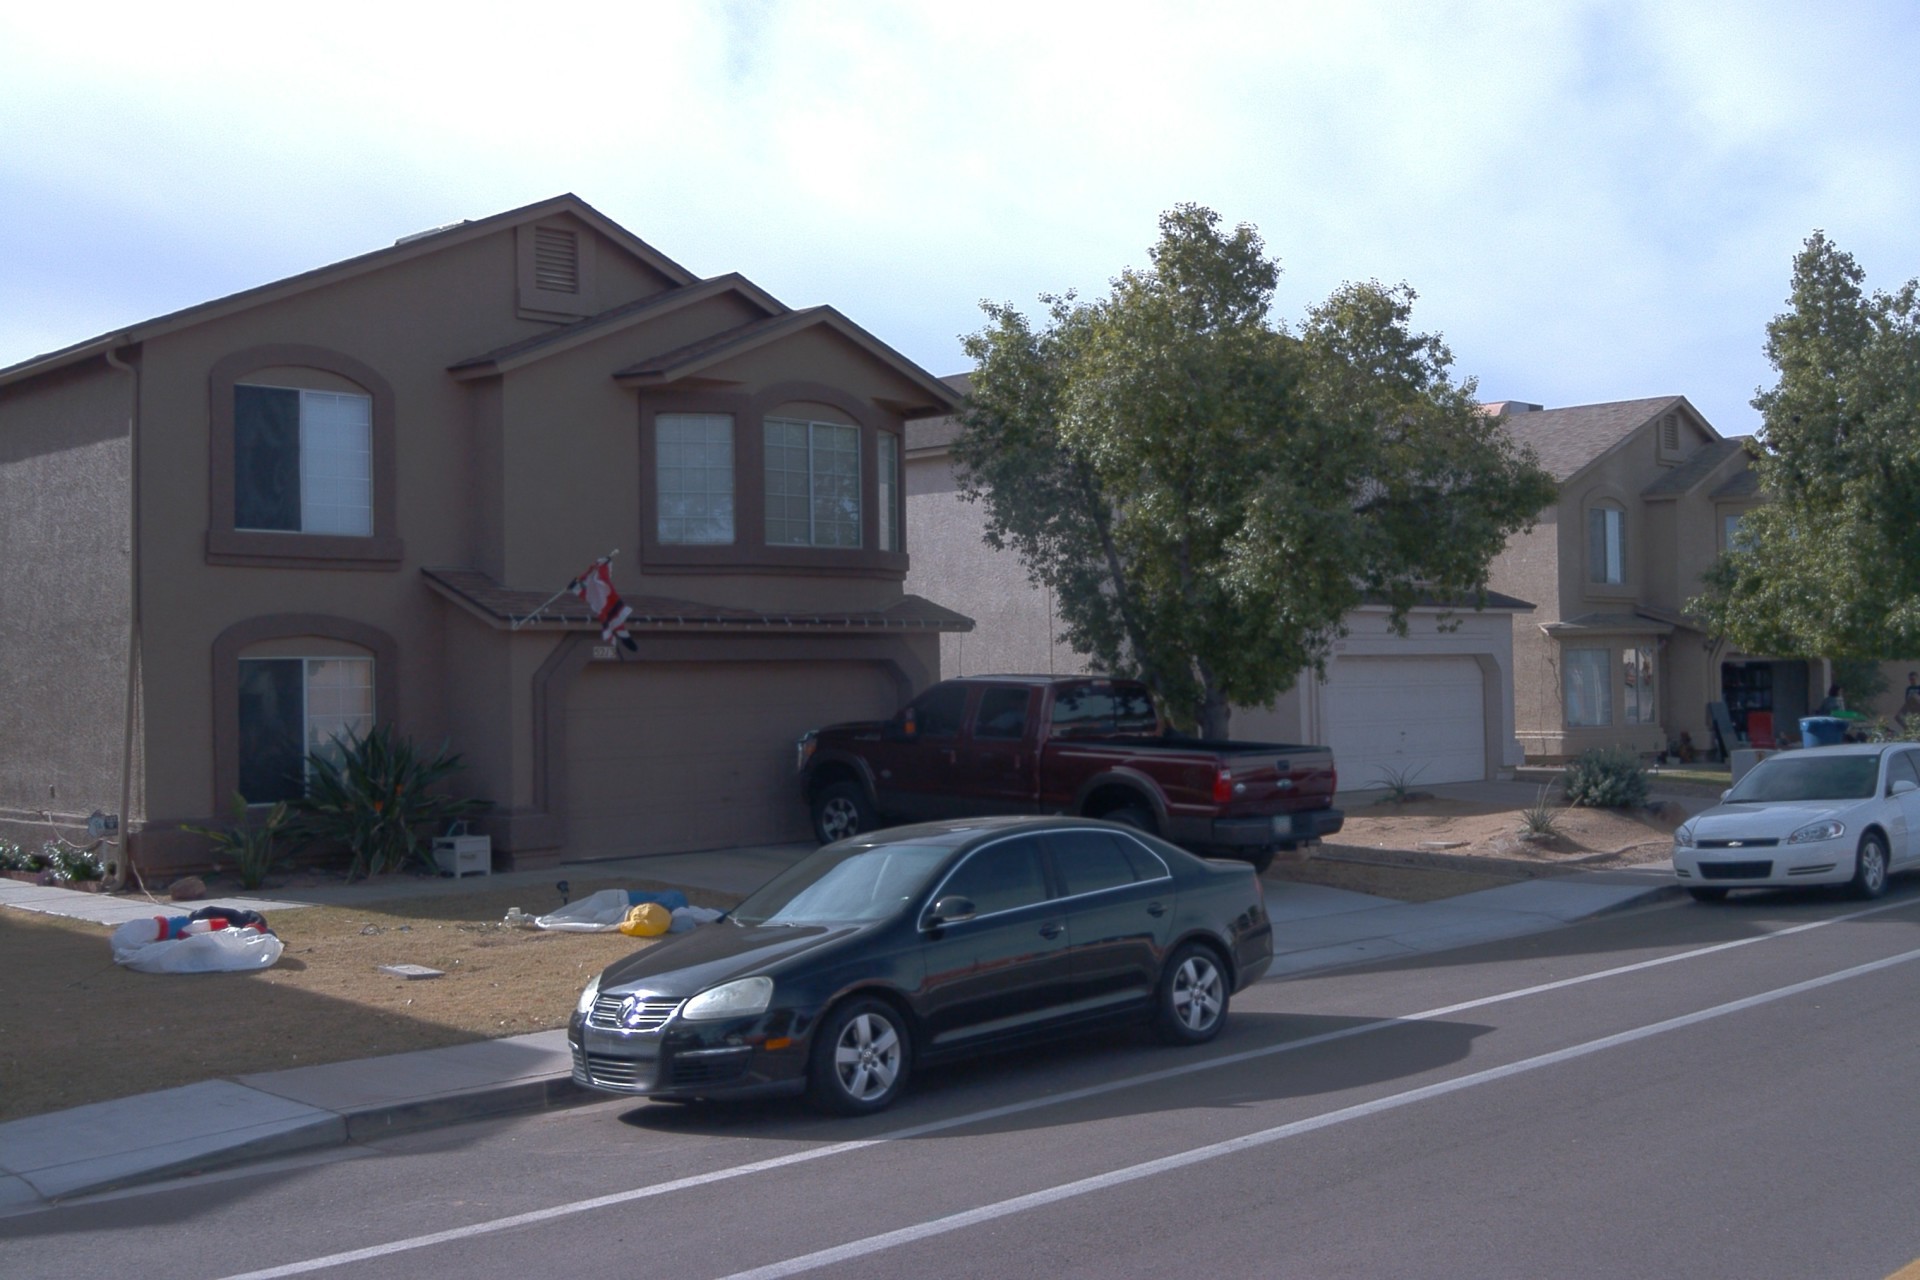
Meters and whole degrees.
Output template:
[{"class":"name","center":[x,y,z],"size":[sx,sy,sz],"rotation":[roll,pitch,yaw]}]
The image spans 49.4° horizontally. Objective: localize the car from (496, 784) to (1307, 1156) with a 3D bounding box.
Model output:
[{"class":"car","center":[-0.169,1.731,12.261],"size":[4.607,1.500,2.020],"rotation":[1,-1,-44]}]

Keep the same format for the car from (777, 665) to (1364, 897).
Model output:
[{"class":"car","center":[0.979,1.323,21.998],"size":[6.202,2.090,2.225],"rotation":[0,-1,43]}]
